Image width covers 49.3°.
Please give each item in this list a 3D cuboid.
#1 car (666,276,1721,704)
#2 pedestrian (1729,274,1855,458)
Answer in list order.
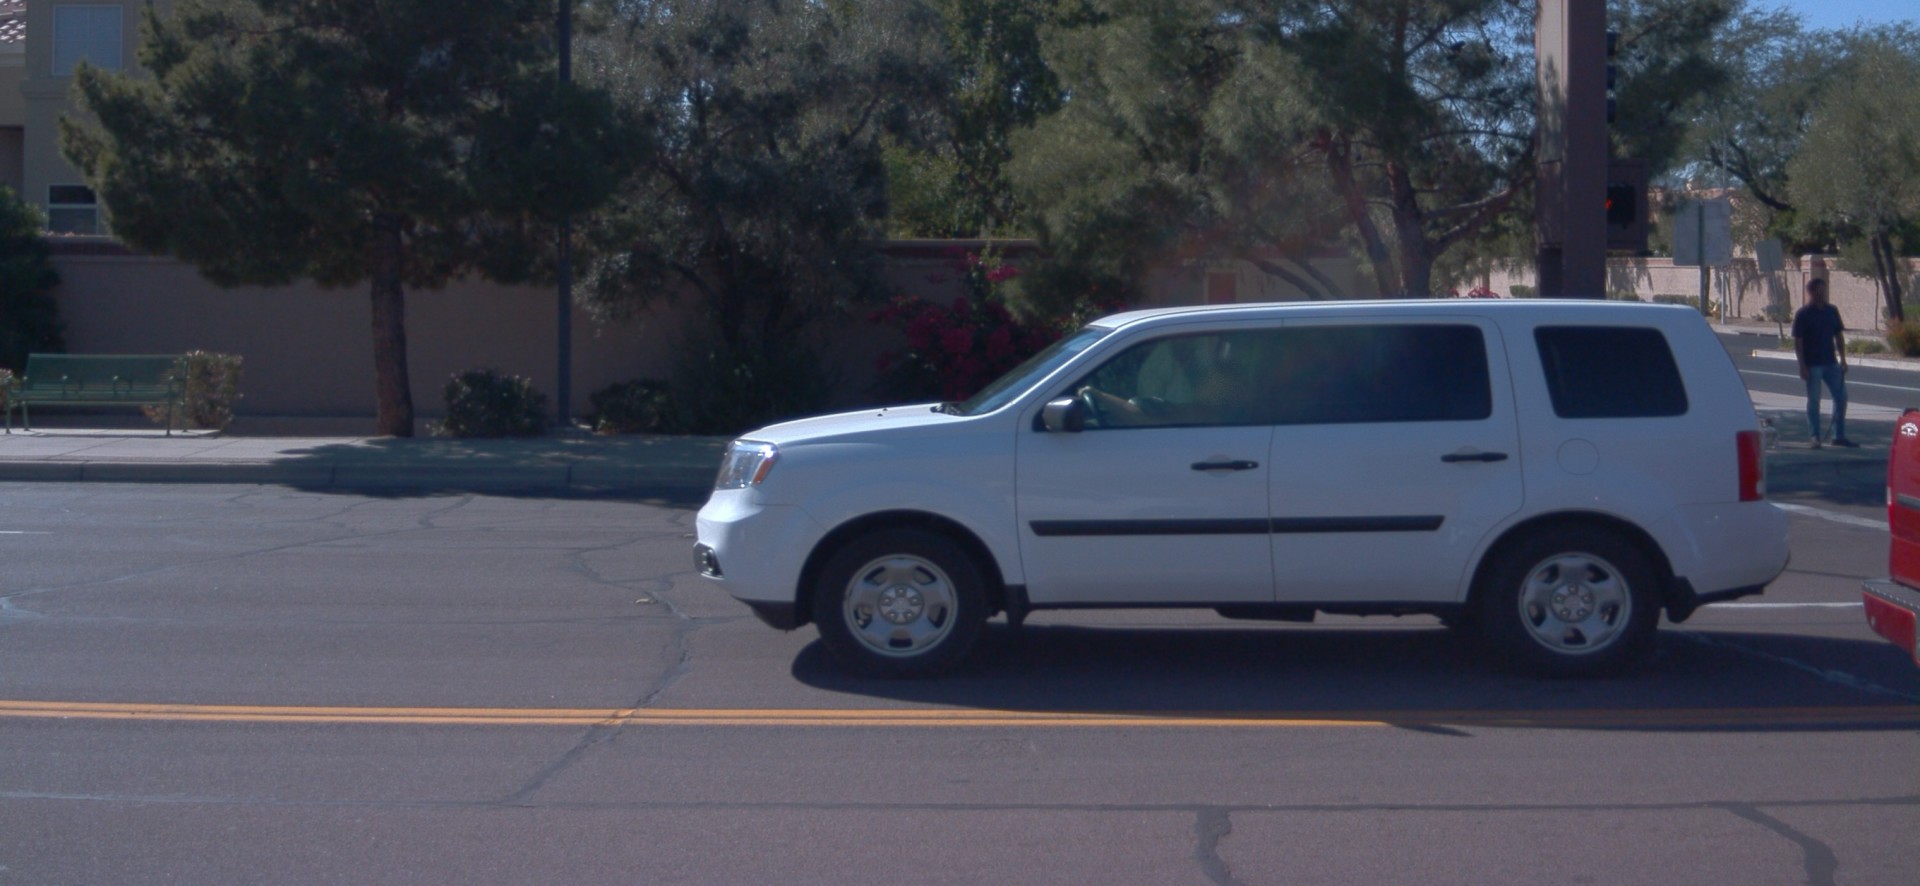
[{"bbox_3d":[1.067,0.125,10.538,4.738,1.845,2.233,0,4,0],"label":"car"},{"bbox_3d":[9.110,-0.867,22.961,1.000,1.938,1.003,0,2,1],"label":"pedestrian"}]
